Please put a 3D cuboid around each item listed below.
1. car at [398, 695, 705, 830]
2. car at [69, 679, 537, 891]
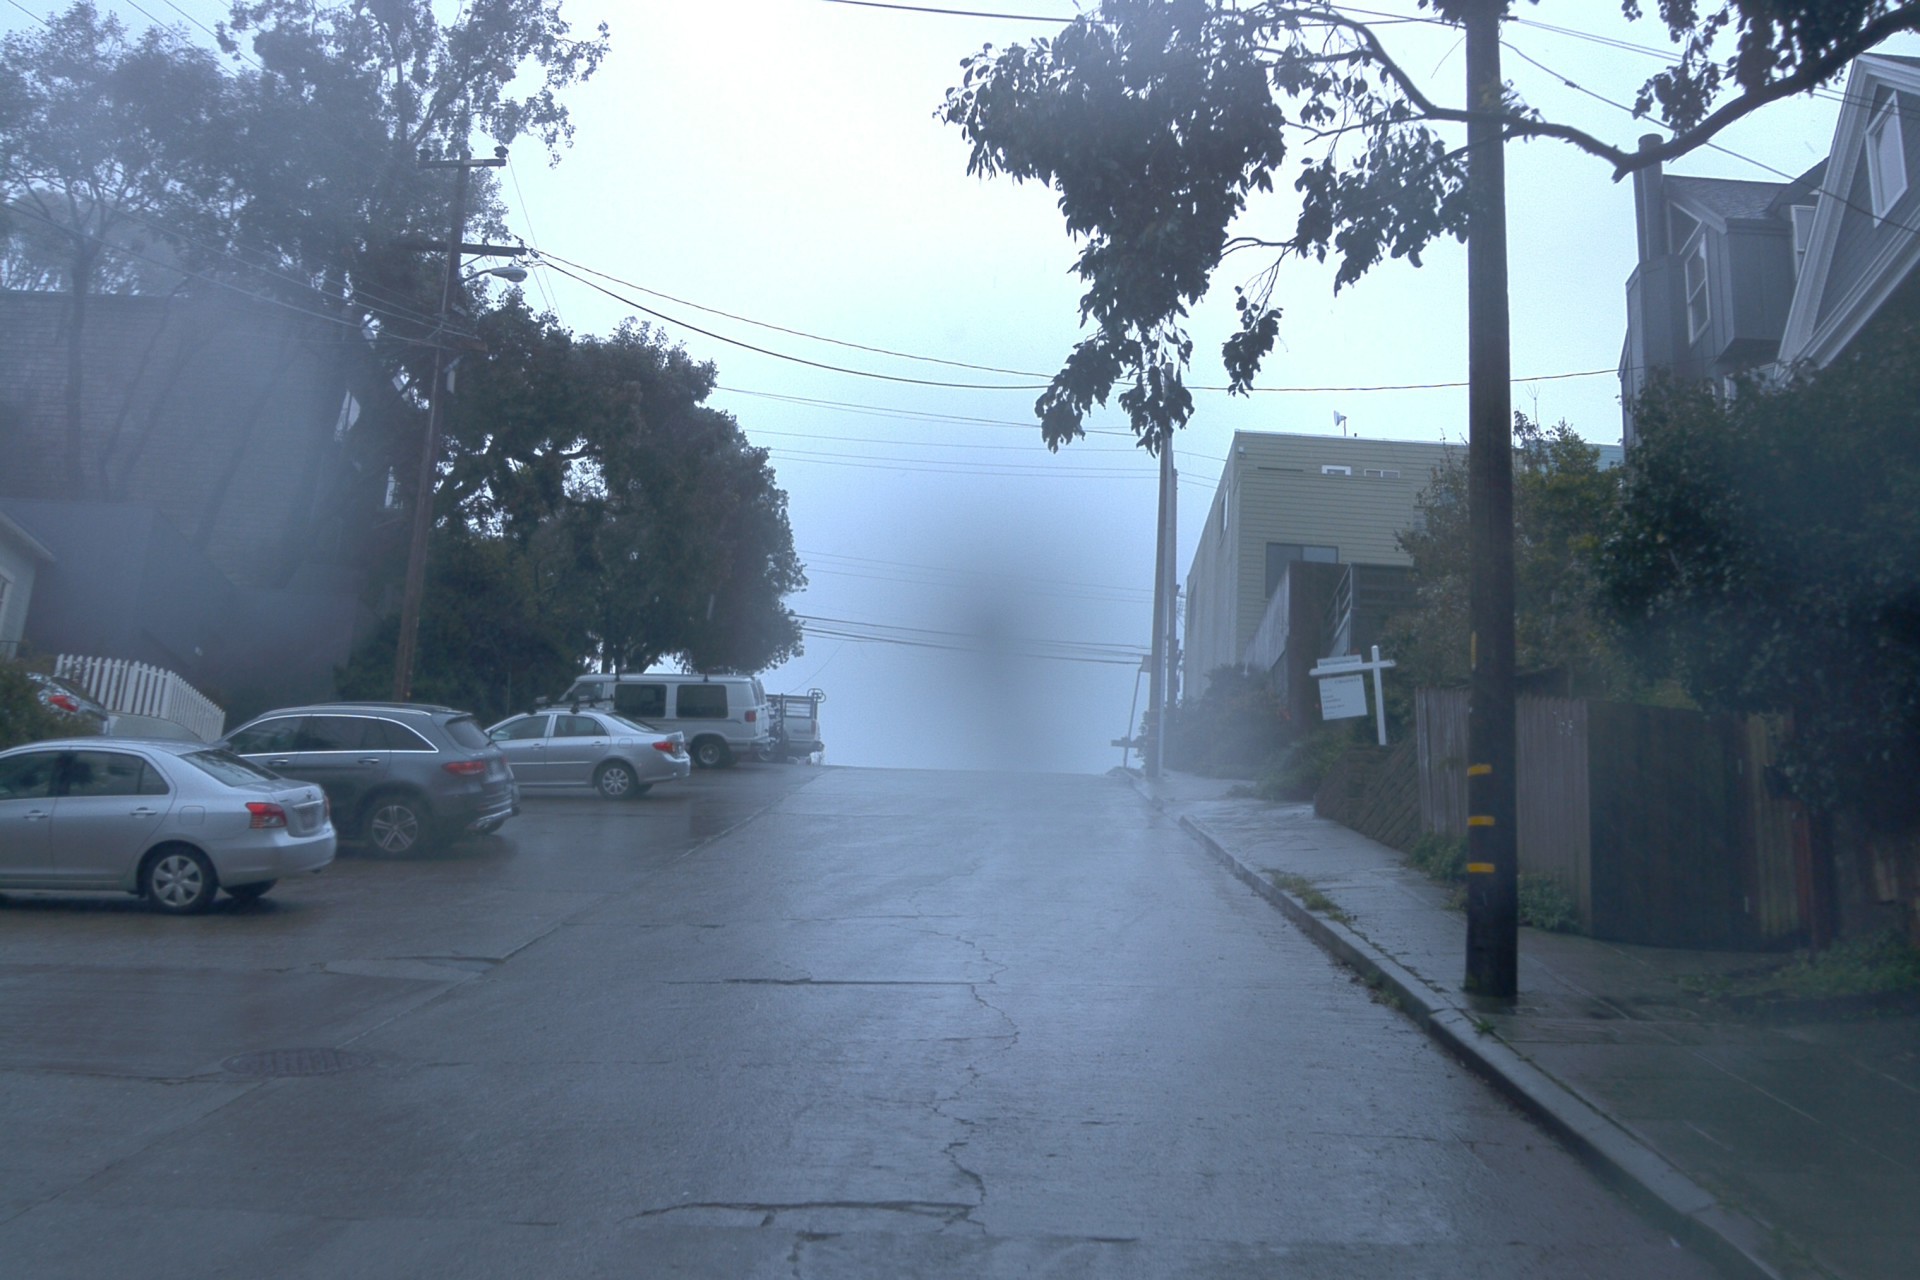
[{"bbox_3d":[-6.545,1.945,33.531,4.450,2.047,2.156,0,0,5],"label":"car"},{"bbox_3d":[-7.201,1.556,23.062,4.489,2.200,2.185,0,0,3],"label":"car"}]
